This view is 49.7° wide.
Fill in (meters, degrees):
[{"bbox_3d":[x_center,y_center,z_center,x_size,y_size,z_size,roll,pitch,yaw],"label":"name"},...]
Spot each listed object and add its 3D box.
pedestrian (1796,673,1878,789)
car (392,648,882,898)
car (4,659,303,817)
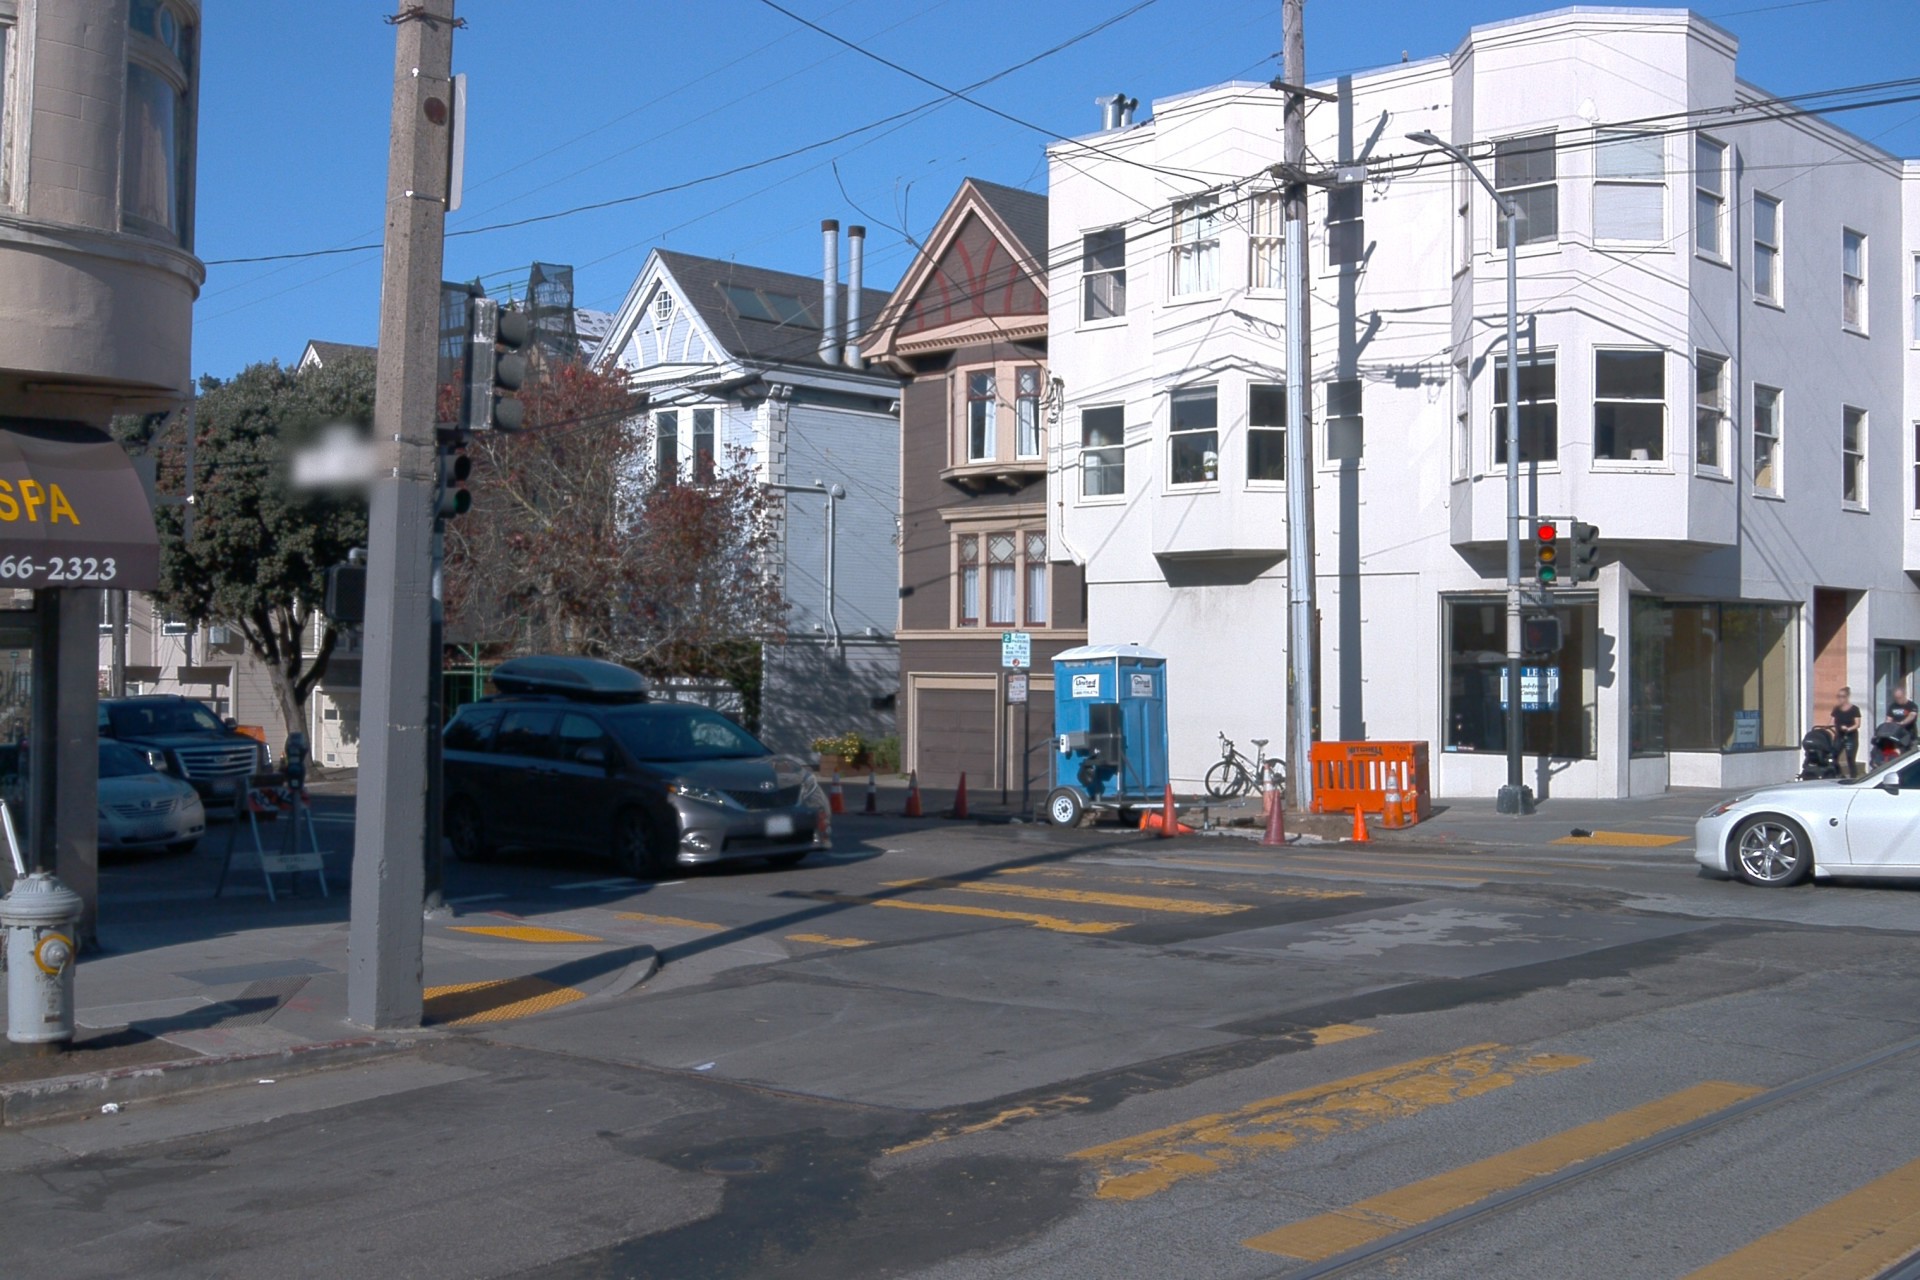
[{"bbox_3d":[13.474,1.385,31.831,0.832,1.720,1.019,0,0,44],"label":"pedestrian"},{"bbox_3d":[-3.487,1.223,21.618,2.419,2.260,5.228,0,0,-45],"label":"car"},{"bbox_3d":[-12.024,1.348,30.711,2.284,2.090,5.186,0,0,-44],"label":"car"}]
